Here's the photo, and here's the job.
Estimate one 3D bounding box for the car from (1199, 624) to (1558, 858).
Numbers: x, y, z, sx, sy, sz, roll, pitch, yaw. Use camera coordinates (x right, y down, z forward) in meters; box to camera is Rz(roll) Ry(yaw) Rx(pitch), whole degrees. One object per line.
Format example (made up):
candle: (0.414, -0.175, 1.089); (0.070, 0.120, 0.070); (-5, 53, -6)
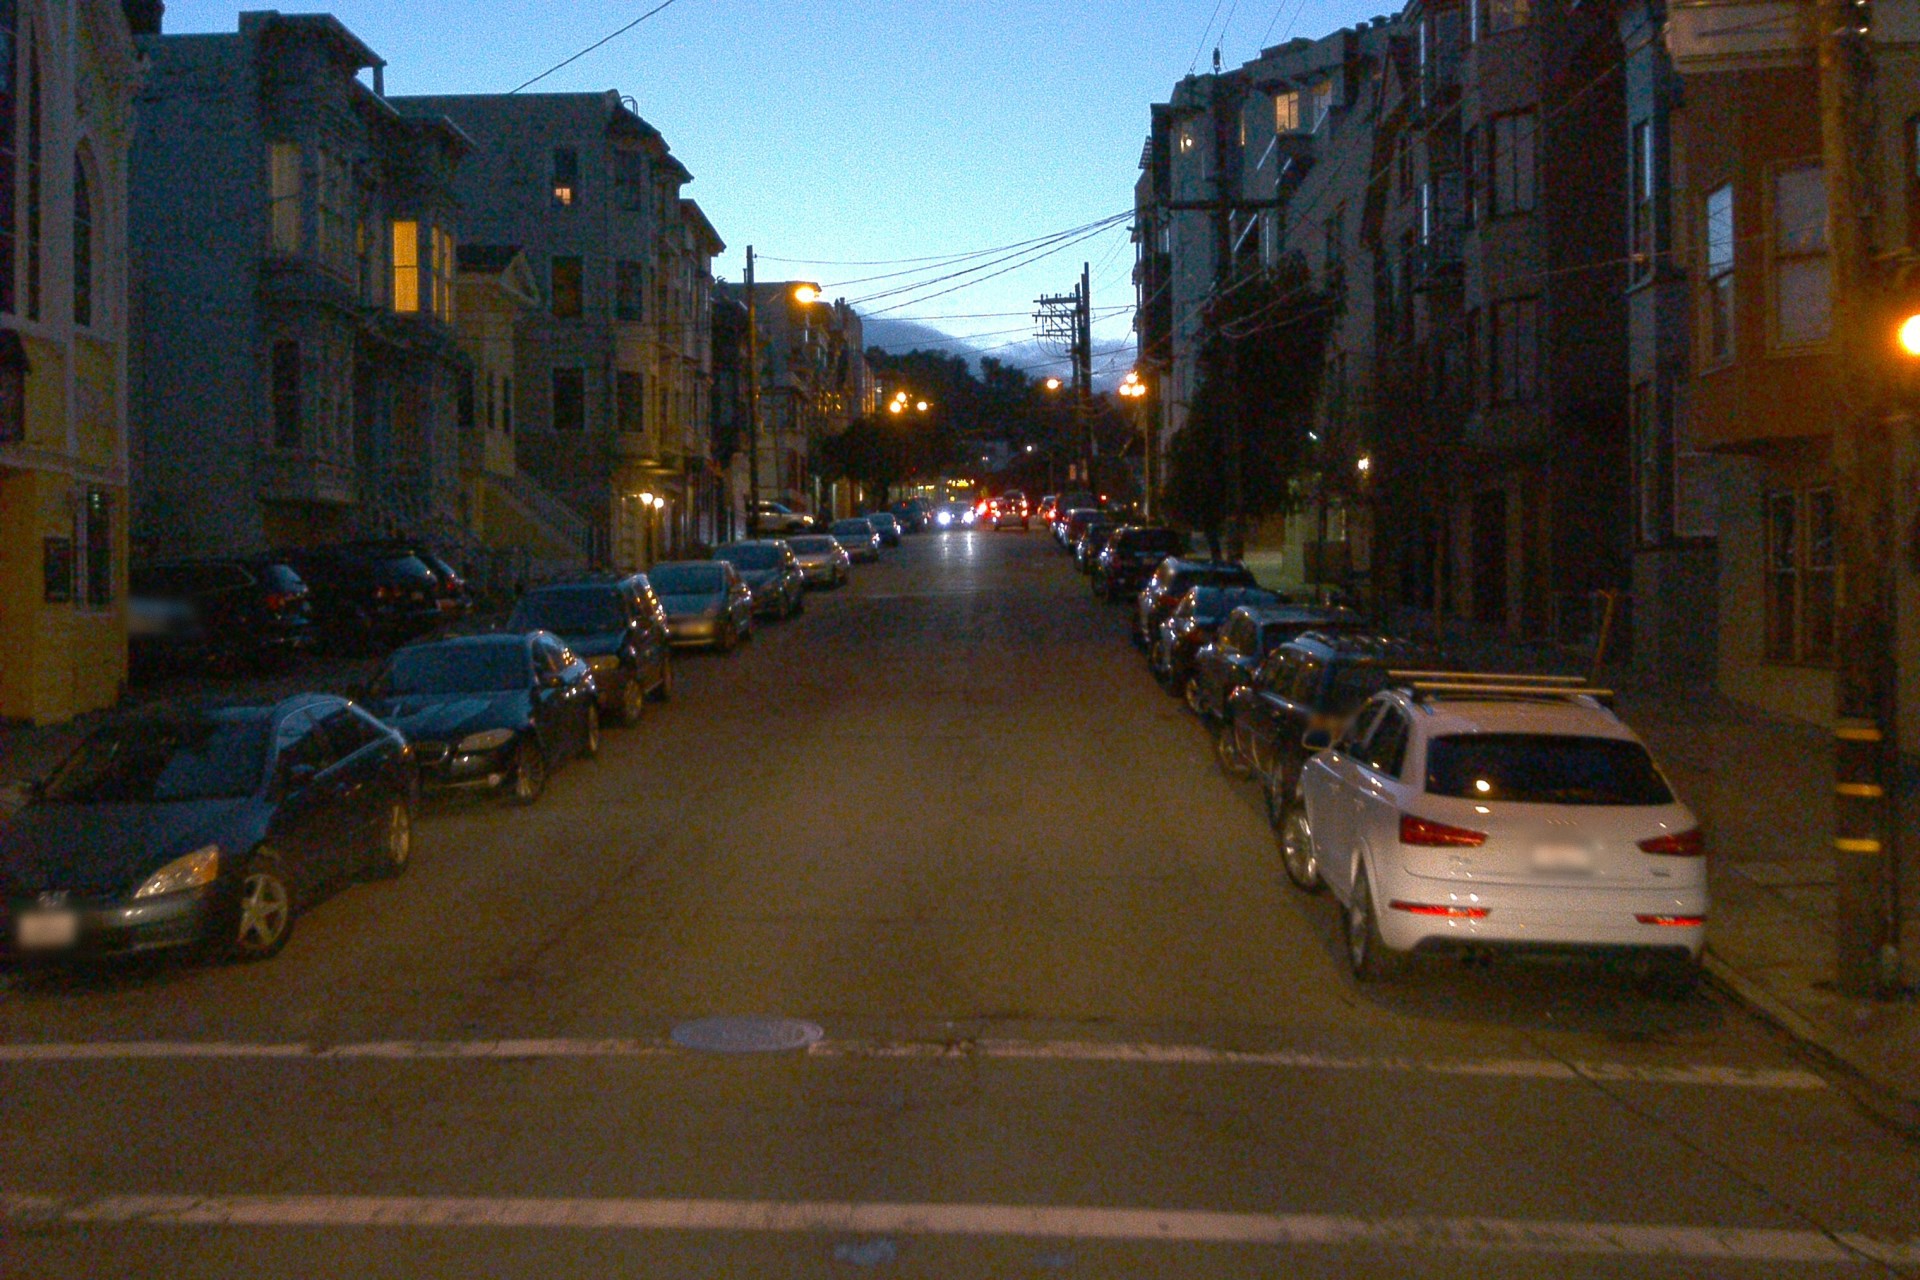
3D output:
car: (3.410, 0.738, 17.781); (2.061, 1.700, 4.831); (0, 1, -1)

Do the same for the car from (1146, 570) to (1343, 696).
car: (3.717, -0.122, 27.690); (2.165, 1.550, 4.680); (0, 1, 2)

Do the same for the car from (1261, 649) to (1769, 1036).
car: (3.159, 1.047, 12.745); (2.081, 1.878, 4.447); (0, 1, 2)

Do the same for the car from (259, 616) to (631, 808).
car: (-4.709, 0.577, 19.695); (2.269, 1.580, 4.959); (0, 1, 1)

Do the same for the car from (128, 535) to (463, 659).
car: (-10.652, -0.673, 33.060); (4.722, 1.880, 2.173); (0, 1, 17)

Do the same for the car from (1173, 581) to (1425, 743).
car: (3.651, 0.185, 22.974); (2.060, 1.630, 4.559); (0, 1, 0)

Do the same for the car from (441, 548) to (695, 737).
car: (-4.629, -0.006, 24.994); (2.128, 2.080, 4.425); (0, 1, 2)

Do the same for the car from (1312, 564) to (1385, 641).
car: (6.186, -0.599, 32.852); (0.768, 1.185, 1.870); (0, 1, -1)

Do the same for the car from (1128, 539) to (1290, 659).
car: (3.882, -0.641, 32.759); (2.159, 1.760, 4.560); (0, 1, 2)

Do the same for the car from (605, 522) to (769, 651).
car: (-4.538, -0.885, 34.863); (2.104, 2.030, 4.539); (0, 1, 1)

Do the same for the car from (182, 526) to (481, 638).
car: (-10.877, -1.005, 35.913); (4.730, 1.890, 2.035); (0, 1, -9)
